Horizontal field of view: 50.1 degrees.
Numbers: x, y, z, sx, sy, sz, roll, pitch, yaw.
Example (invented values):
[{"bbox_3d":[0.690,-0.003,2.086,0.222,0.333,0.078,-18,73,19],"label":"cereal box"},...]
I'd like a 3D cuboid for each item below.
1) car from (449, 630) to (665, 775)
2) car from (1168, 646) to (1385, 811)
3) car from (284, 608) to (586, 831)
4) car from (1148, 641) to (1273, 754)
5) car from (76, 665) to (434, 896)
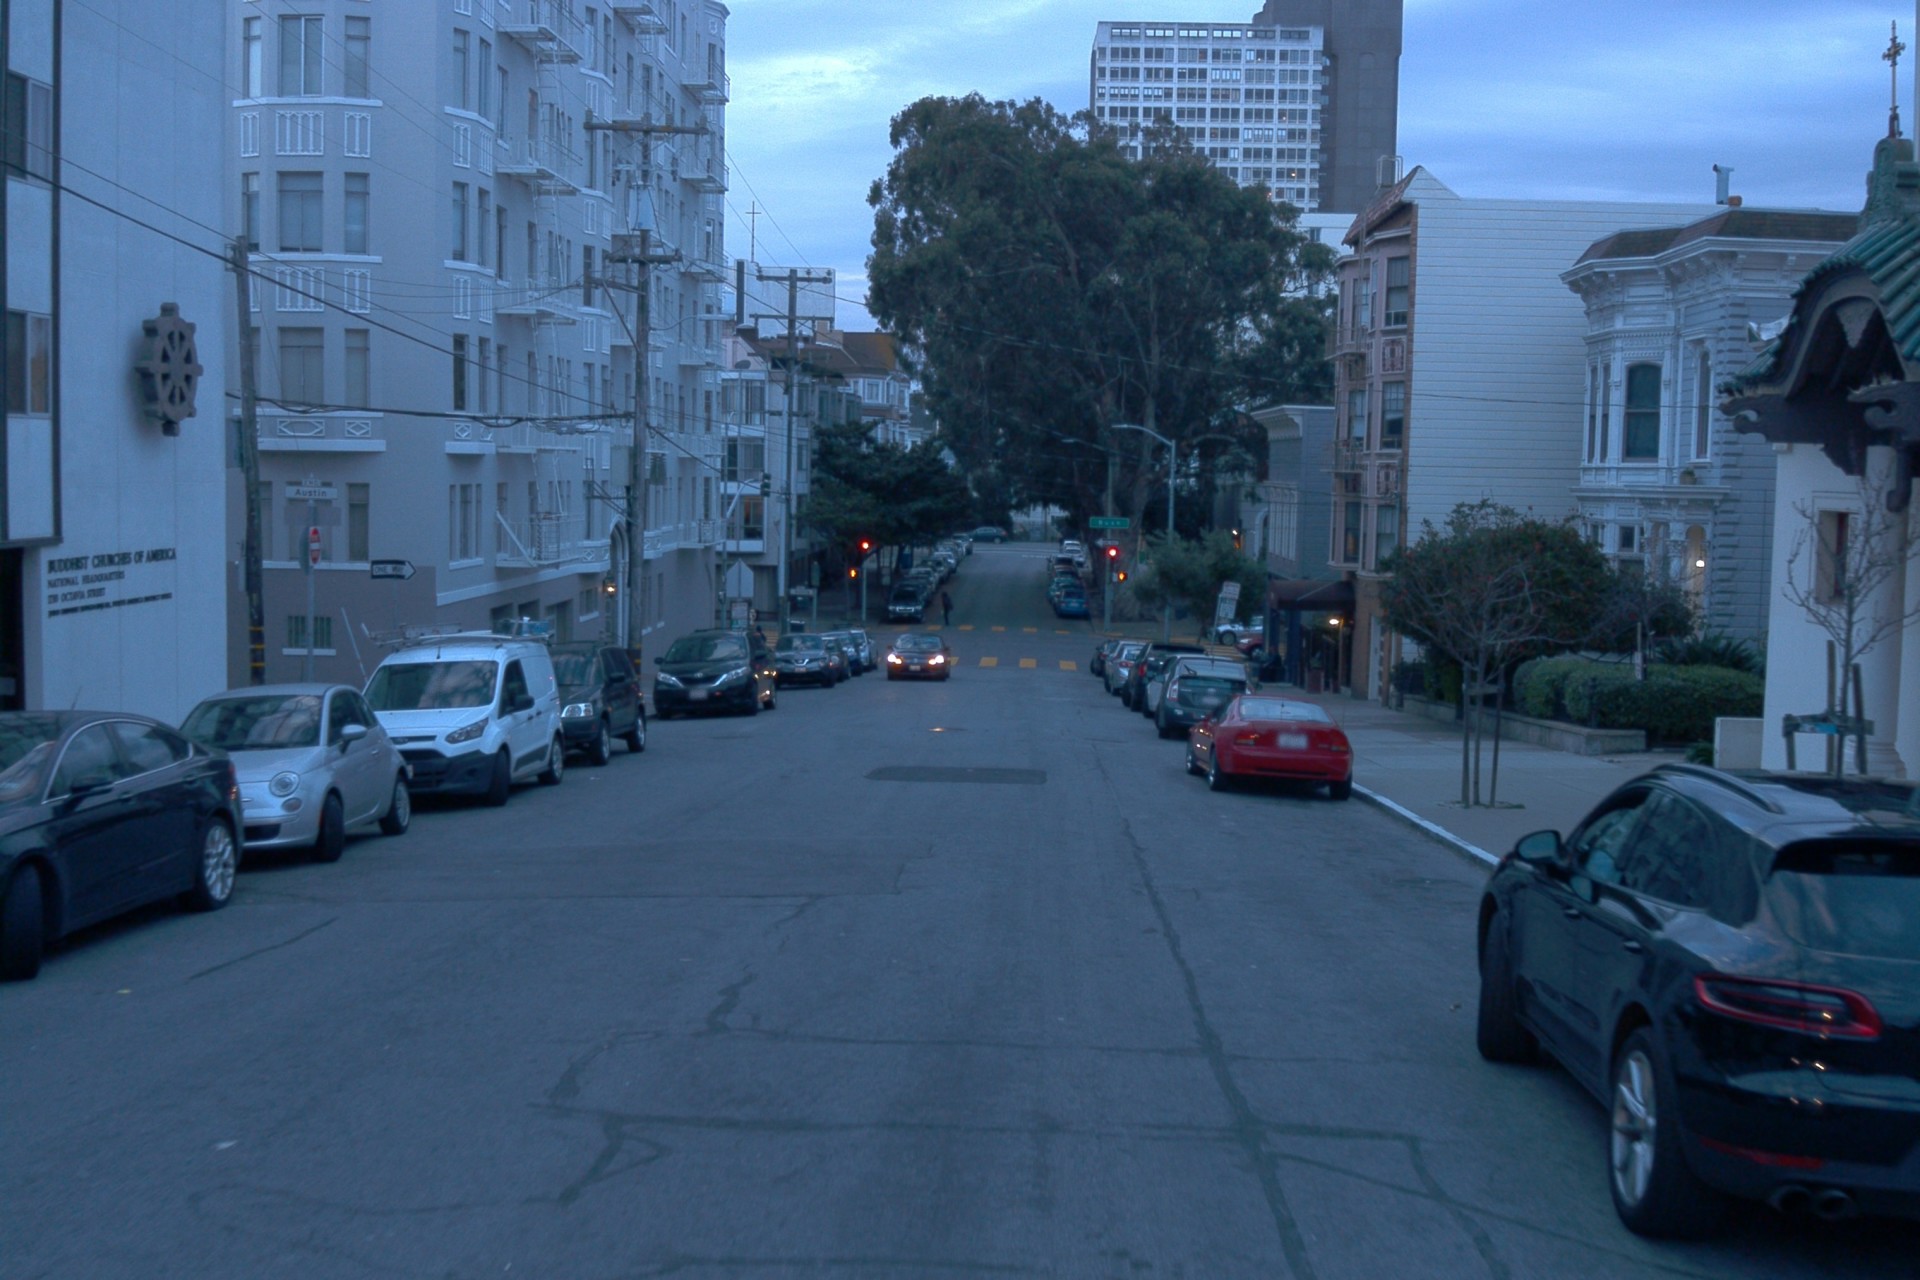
[{"bbox_3d":[-5.646,0.814,29.381,2.094,1.830,4.515,1,1,1],"label":"car"},{"bbox_3d":[4.104,1.091,27.411,2.118,1.890,4.539,1,1,-1],"label":"car"},{"bbox_3d":[-5.800,0.784,23.328,2.165,2.250,4.373,1,1,2],"label":"car"},{"bbox_3d":[4.518,0.986,37.627,2.066,1.830,4.431,1,1,5],"label":"car"},{"bbox_3d":[-5.983,1.122,17.902,1.878,1.680,3.537,1,1,0],"label":"car"}]
